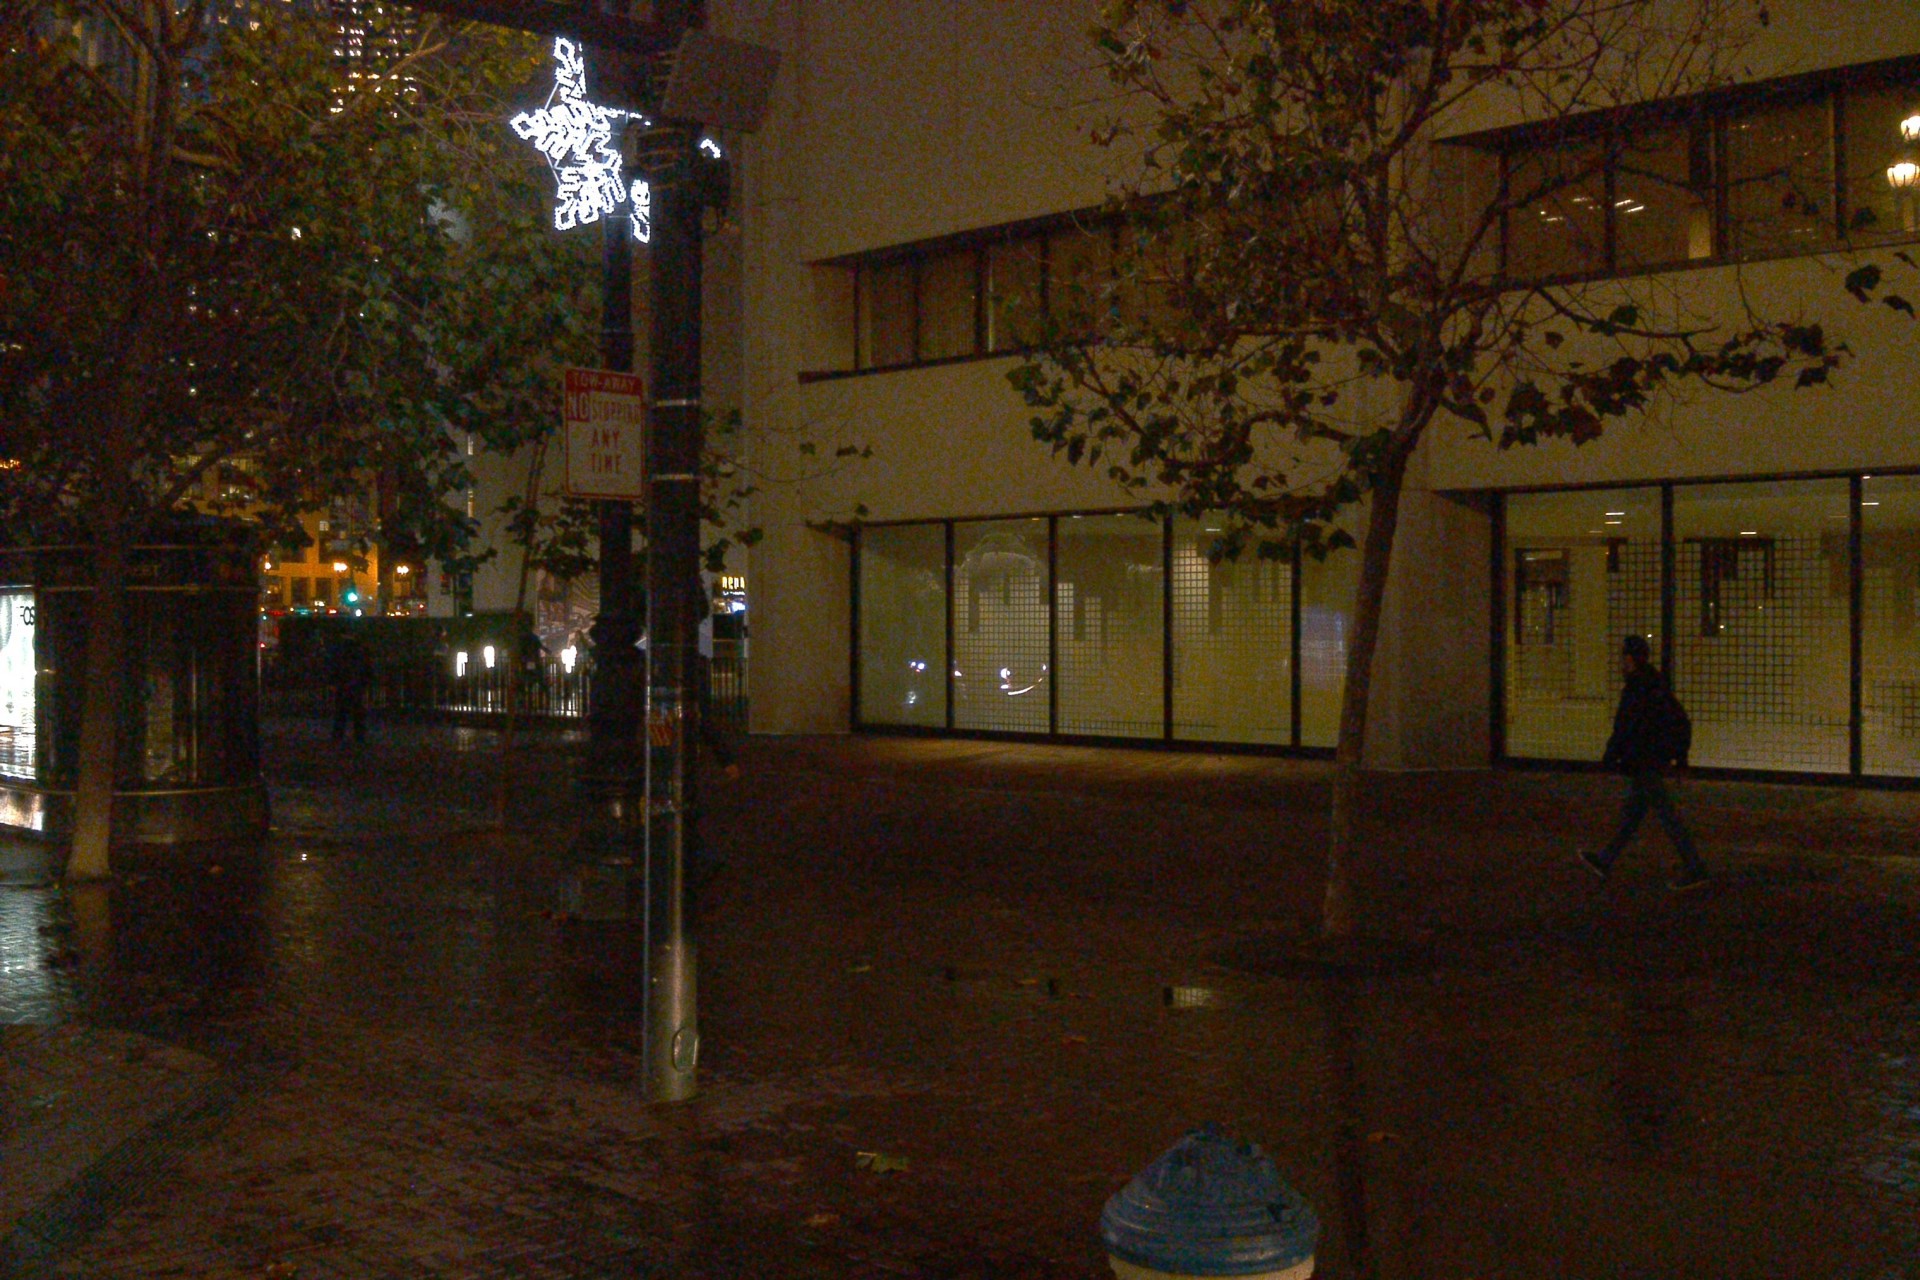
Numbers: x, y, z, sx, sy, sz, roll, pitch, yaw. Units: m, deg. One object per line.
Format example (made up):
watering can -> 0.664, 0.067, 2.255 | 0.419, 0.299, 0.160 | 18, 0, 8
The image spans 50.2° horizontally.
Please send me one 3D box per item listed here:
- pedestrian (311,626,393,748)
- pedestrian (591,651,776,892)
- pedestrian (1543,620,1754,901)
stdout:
pedestrian -> -9.074, 0.688, 30.542 | 0.860, 1.780, 1.103 | 1, 0, -34
pedestrian -> -2.105, 0.959, 15.576 | 0.941, 1.740, 1.066 | 1, 0, -42
pedestrian -> 4.749, 0.792, 14.158 | 0.757, 1.850, 1.145 | 1, 0, -40
